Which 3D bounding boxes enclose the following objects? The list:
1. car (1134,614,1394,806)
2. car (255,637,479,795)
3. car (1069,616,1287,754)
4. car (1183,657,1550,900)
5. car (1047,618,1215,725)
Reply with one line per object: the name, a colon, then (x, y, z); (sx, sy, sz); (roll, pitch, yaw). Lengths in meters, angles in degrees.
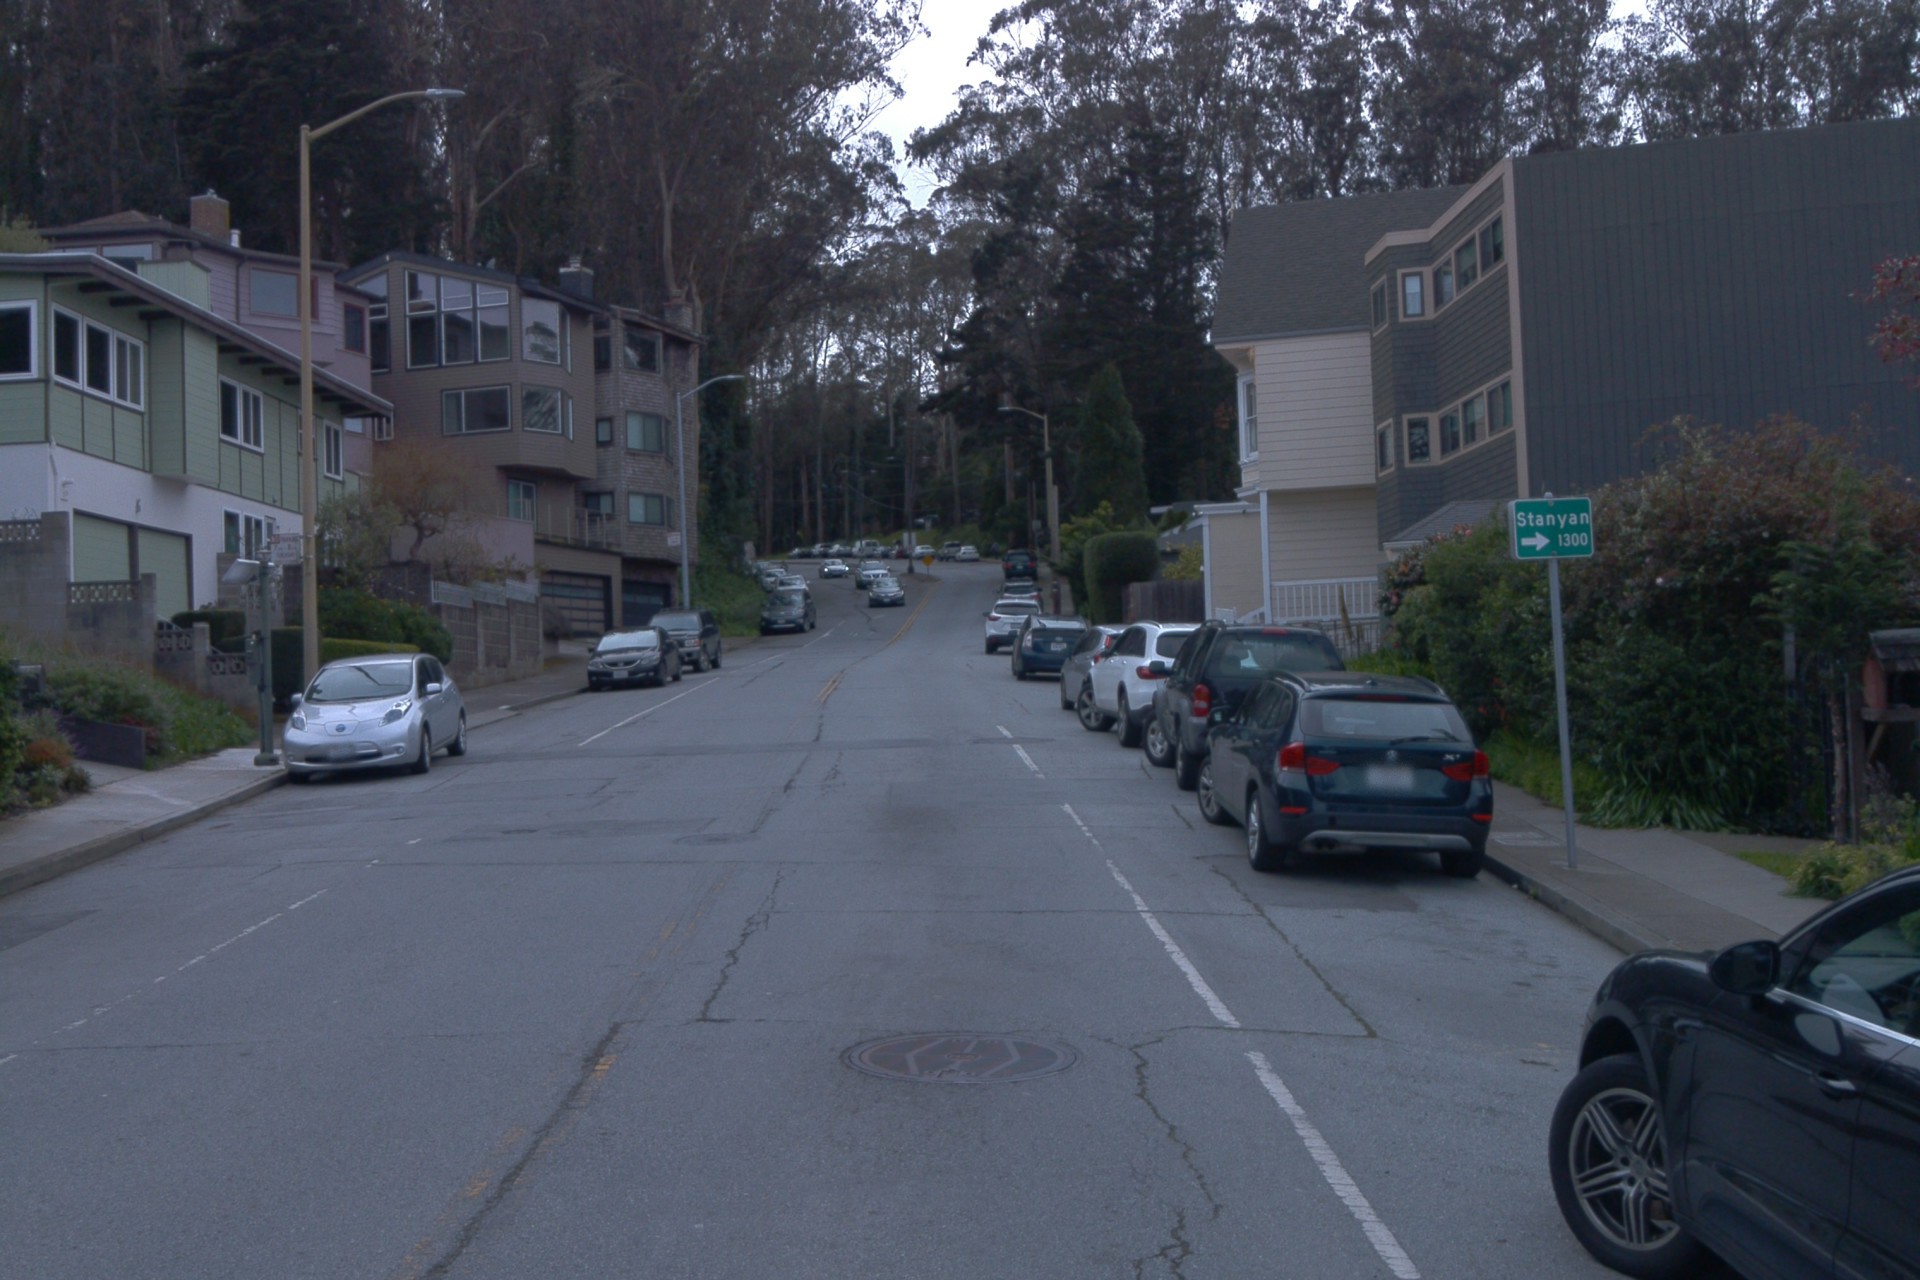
car: (3.236, 0.670, 22.860); (2.205, 1.910, 4.613); (0, 1, 0)
car: (-7.782, 0.927, 27.402); (1.969, 1.870, 4.472); (0, 1, -4)
car: (2.902, 0.542, 28.491); (2.090, 1.740, 4.852); (0, 1, -5)
car: (3.253, 1.045, 17.444); (2.172, 1.690, 4.492); (0, 1, -1)
car: (2.733, 0.458, 33.862); (2.037, 1.630, 4.249); (0, 1, -5)
